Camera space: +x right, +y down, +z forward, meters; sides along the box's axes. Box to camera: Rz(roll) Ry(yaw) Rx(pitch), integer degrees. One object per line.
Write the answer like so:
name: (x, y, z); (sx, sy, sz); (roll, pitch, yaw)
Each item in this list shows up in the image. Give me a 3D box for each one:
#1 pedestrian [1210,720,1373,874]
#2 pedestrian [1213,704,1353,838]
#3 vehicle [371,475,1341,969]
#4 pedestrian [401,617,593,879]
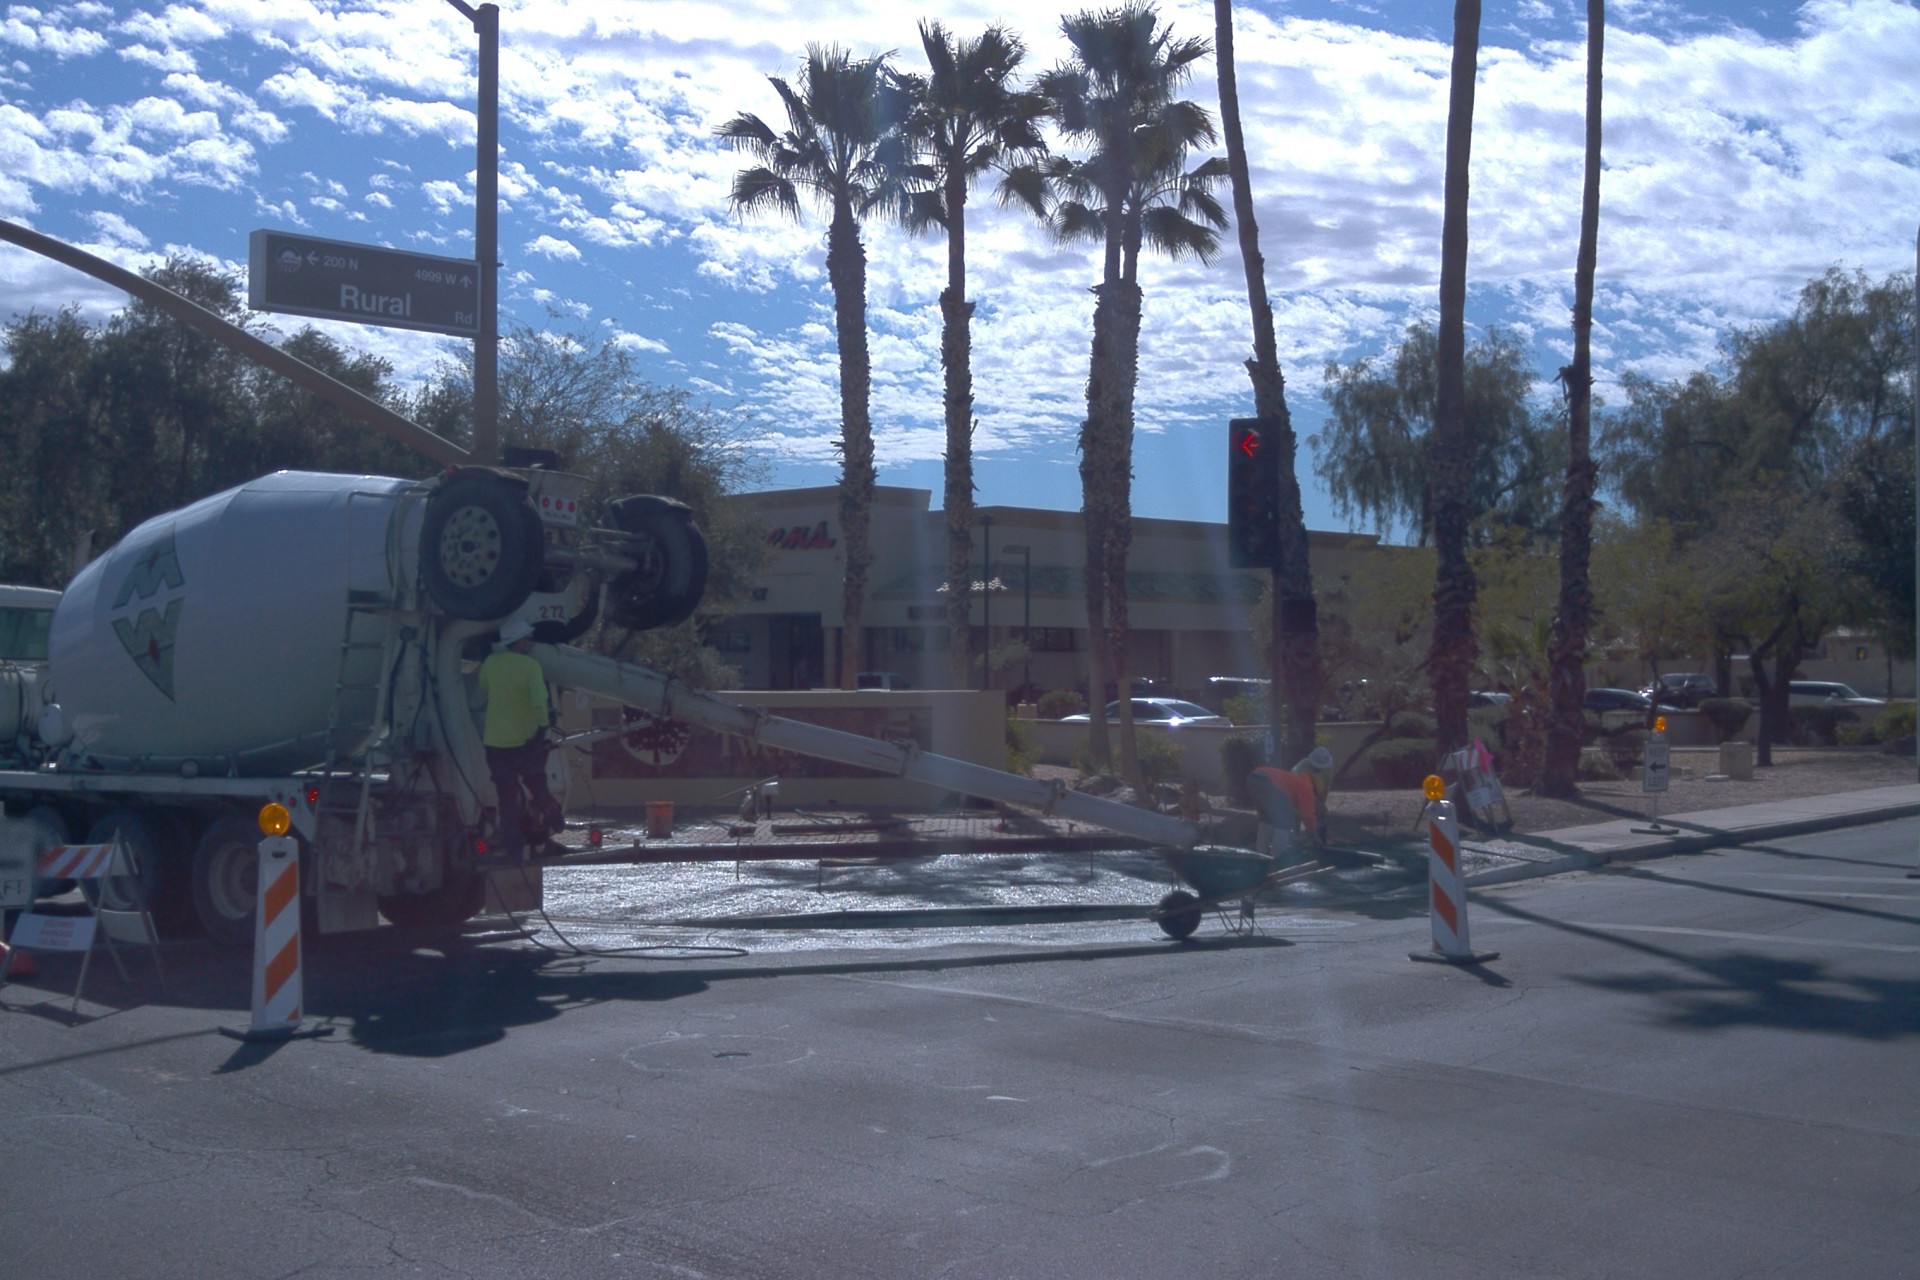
pedestrian: (3.489, 1.619, 21.674); (1.413, 1.490, 1.247); (0, 0, 24)
pedestrian: (3.577, 1.425, 22.891); (1.098, 1.380, 1.099); (0, 0, 43)
vehicle: (-0.784, 0.599, 16.509); (7.276, 3.650, 1.912); (0, 0, -4)
pedestrian: (-3.497, 0.786, 15.669); (0.997, 1.900, 1.003); (0, 0, 30)
